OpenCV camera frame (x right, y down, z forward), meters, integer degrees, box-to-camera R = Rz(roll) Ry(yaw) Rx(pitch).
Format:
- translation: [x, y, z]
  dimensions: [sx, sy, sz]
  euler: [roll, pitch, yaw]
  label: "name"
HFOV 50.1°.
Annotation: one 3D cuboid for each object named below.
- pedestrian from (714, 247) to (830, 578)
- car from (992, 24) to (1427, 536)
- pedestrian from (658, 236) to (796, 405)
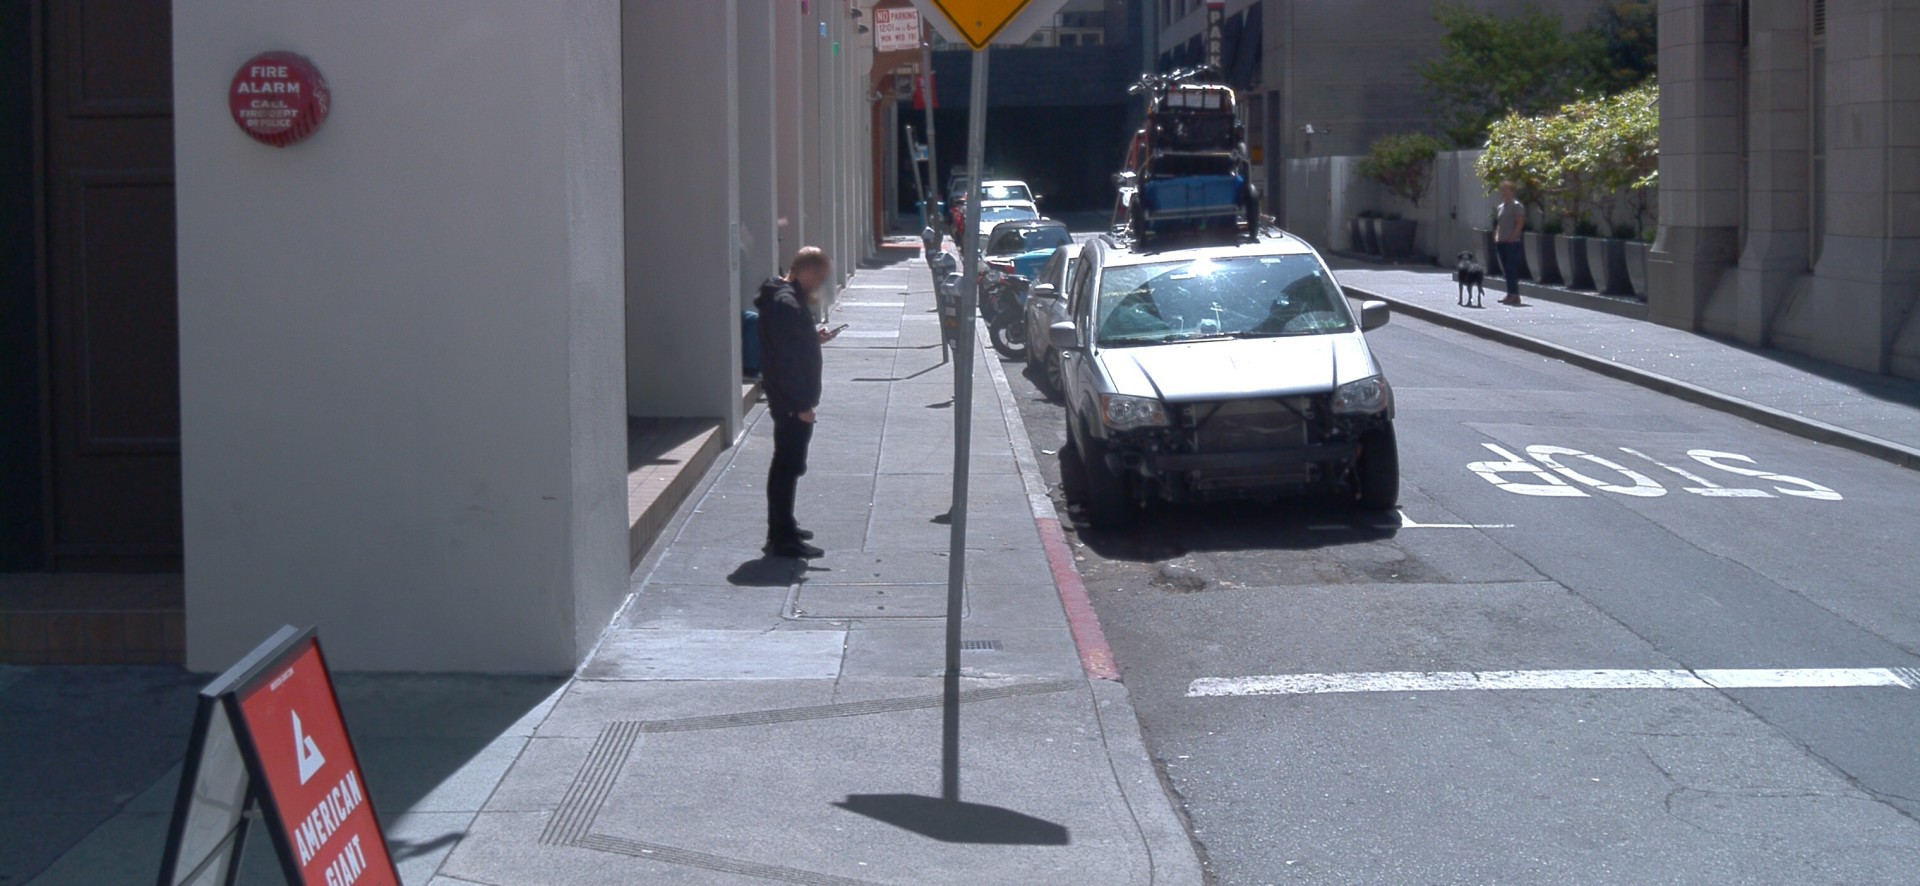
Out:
- translation: [-1.014, -0.195, 11.202]
  dimensions: [0.569, 1.739, 0.757]
  euler: [0, 1, 0]
  label: "pedestrian"
- translation: [1.506, -1.205, 14.523]
  dimensions: [2.305, 2.971, 5.041]
  euler: [0, 4, -2]
  label: "car"
- translation: [-2.038, -1.095, 18.111]
  dimensions: [1.160, 1.456, 0.758]
  euler: [0, 1, -3]
  label: "pedestrian"
